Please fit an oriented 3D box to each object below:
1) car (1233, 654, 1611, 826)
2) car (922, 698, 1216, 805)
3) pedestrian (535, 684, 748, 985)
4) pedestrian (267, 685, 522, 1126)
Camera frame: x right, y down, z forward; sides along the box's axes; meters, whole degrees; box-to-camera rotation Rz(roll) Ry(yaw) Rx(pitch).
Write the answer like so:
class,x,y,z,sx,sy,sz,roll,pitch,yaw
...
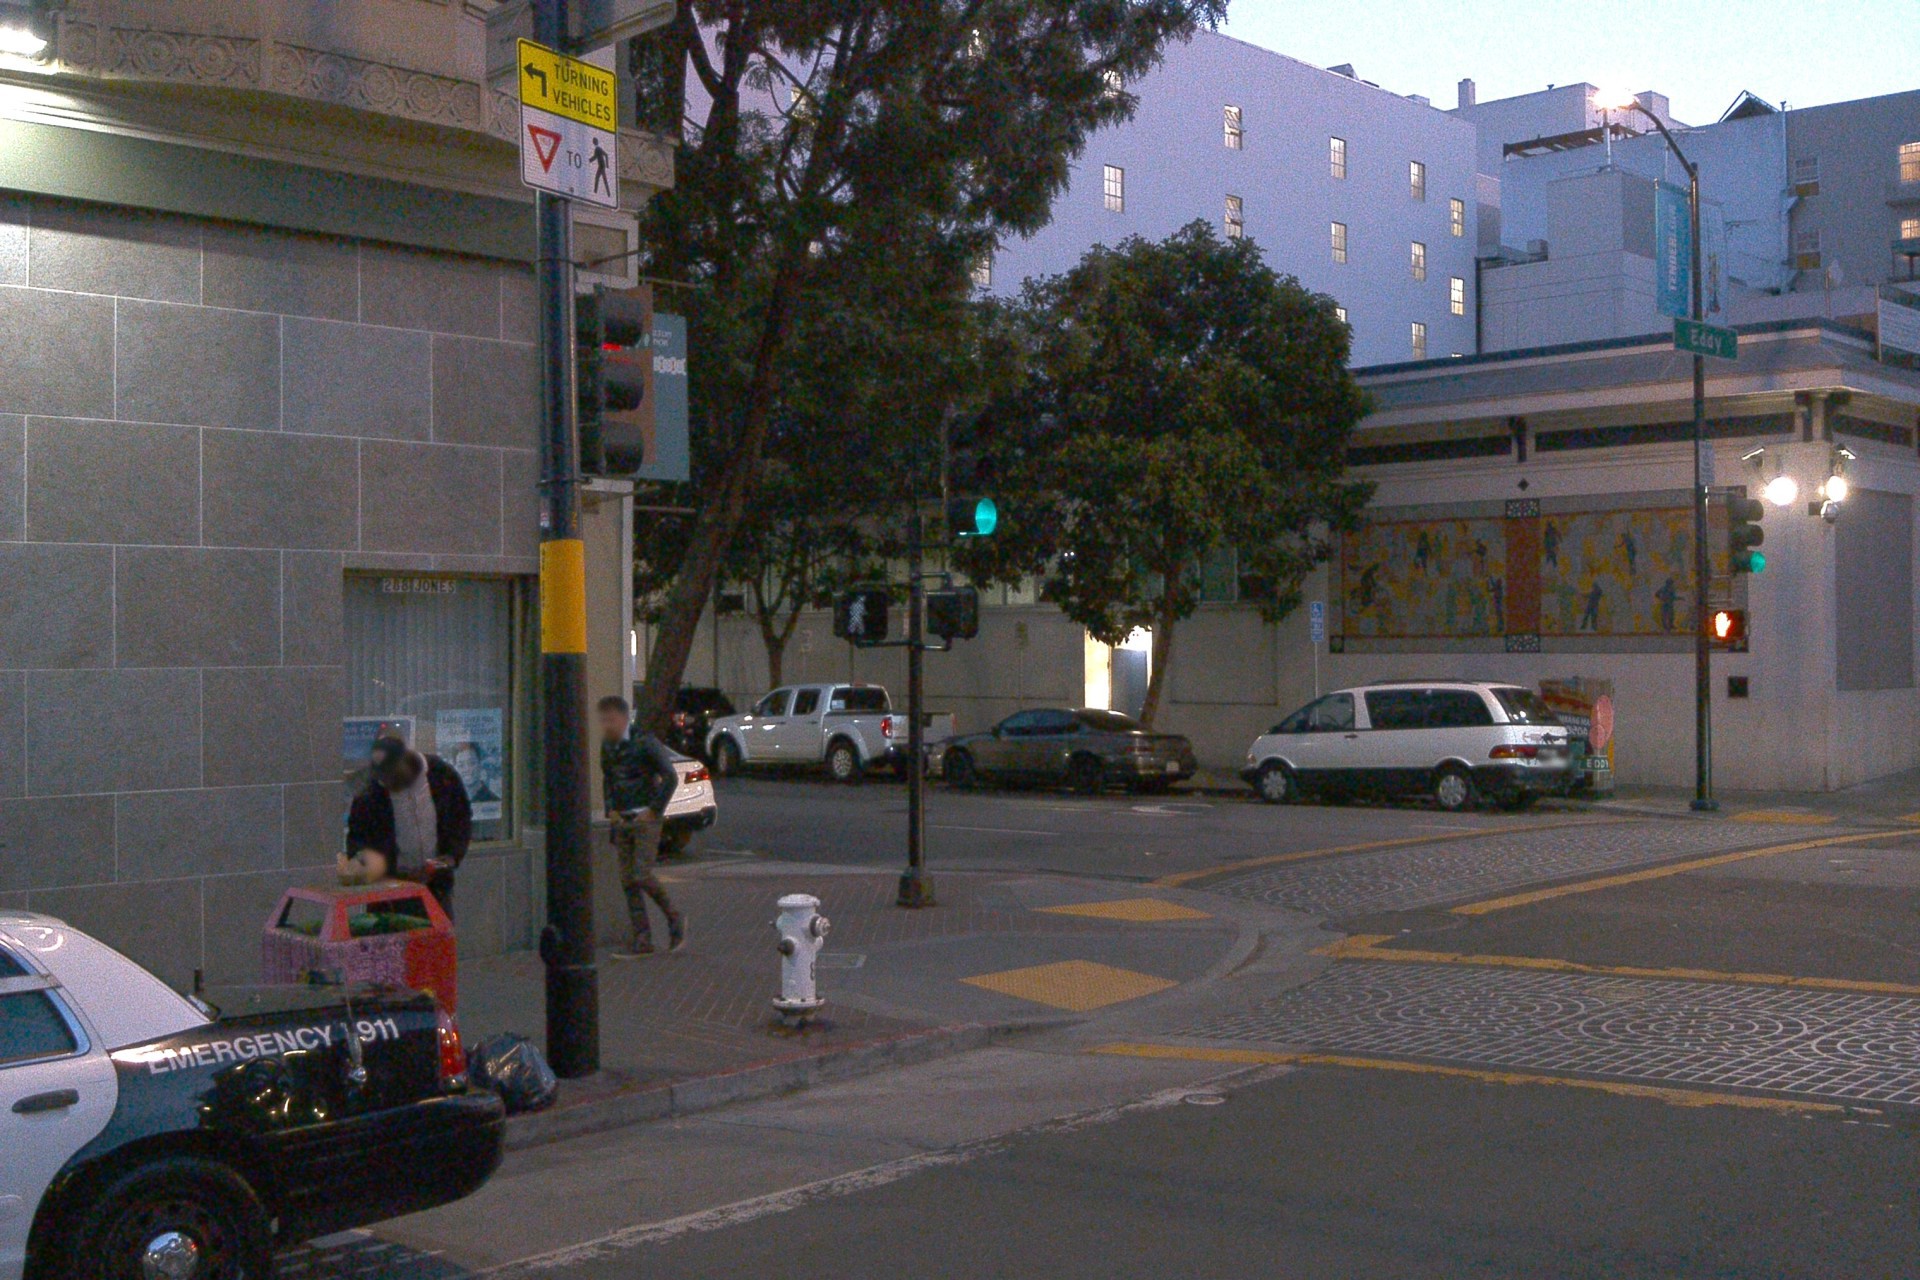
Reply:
class,x,y,z,sx,sy,sz,roll,pitch,yaw
car,6.359,1.293,28.798,4.809,2.080,2.006,1,1,44
car,1.705,1.754,33.591,1.916,1.390,4.727,-1,1,-45
pedestrian,-2.142,1.266,13.951,0.870,1.880,1.123,1,1,40
pedestrian,-2.793,1.243,10.177,0.983,1.990,0.865,-1,1,-34
